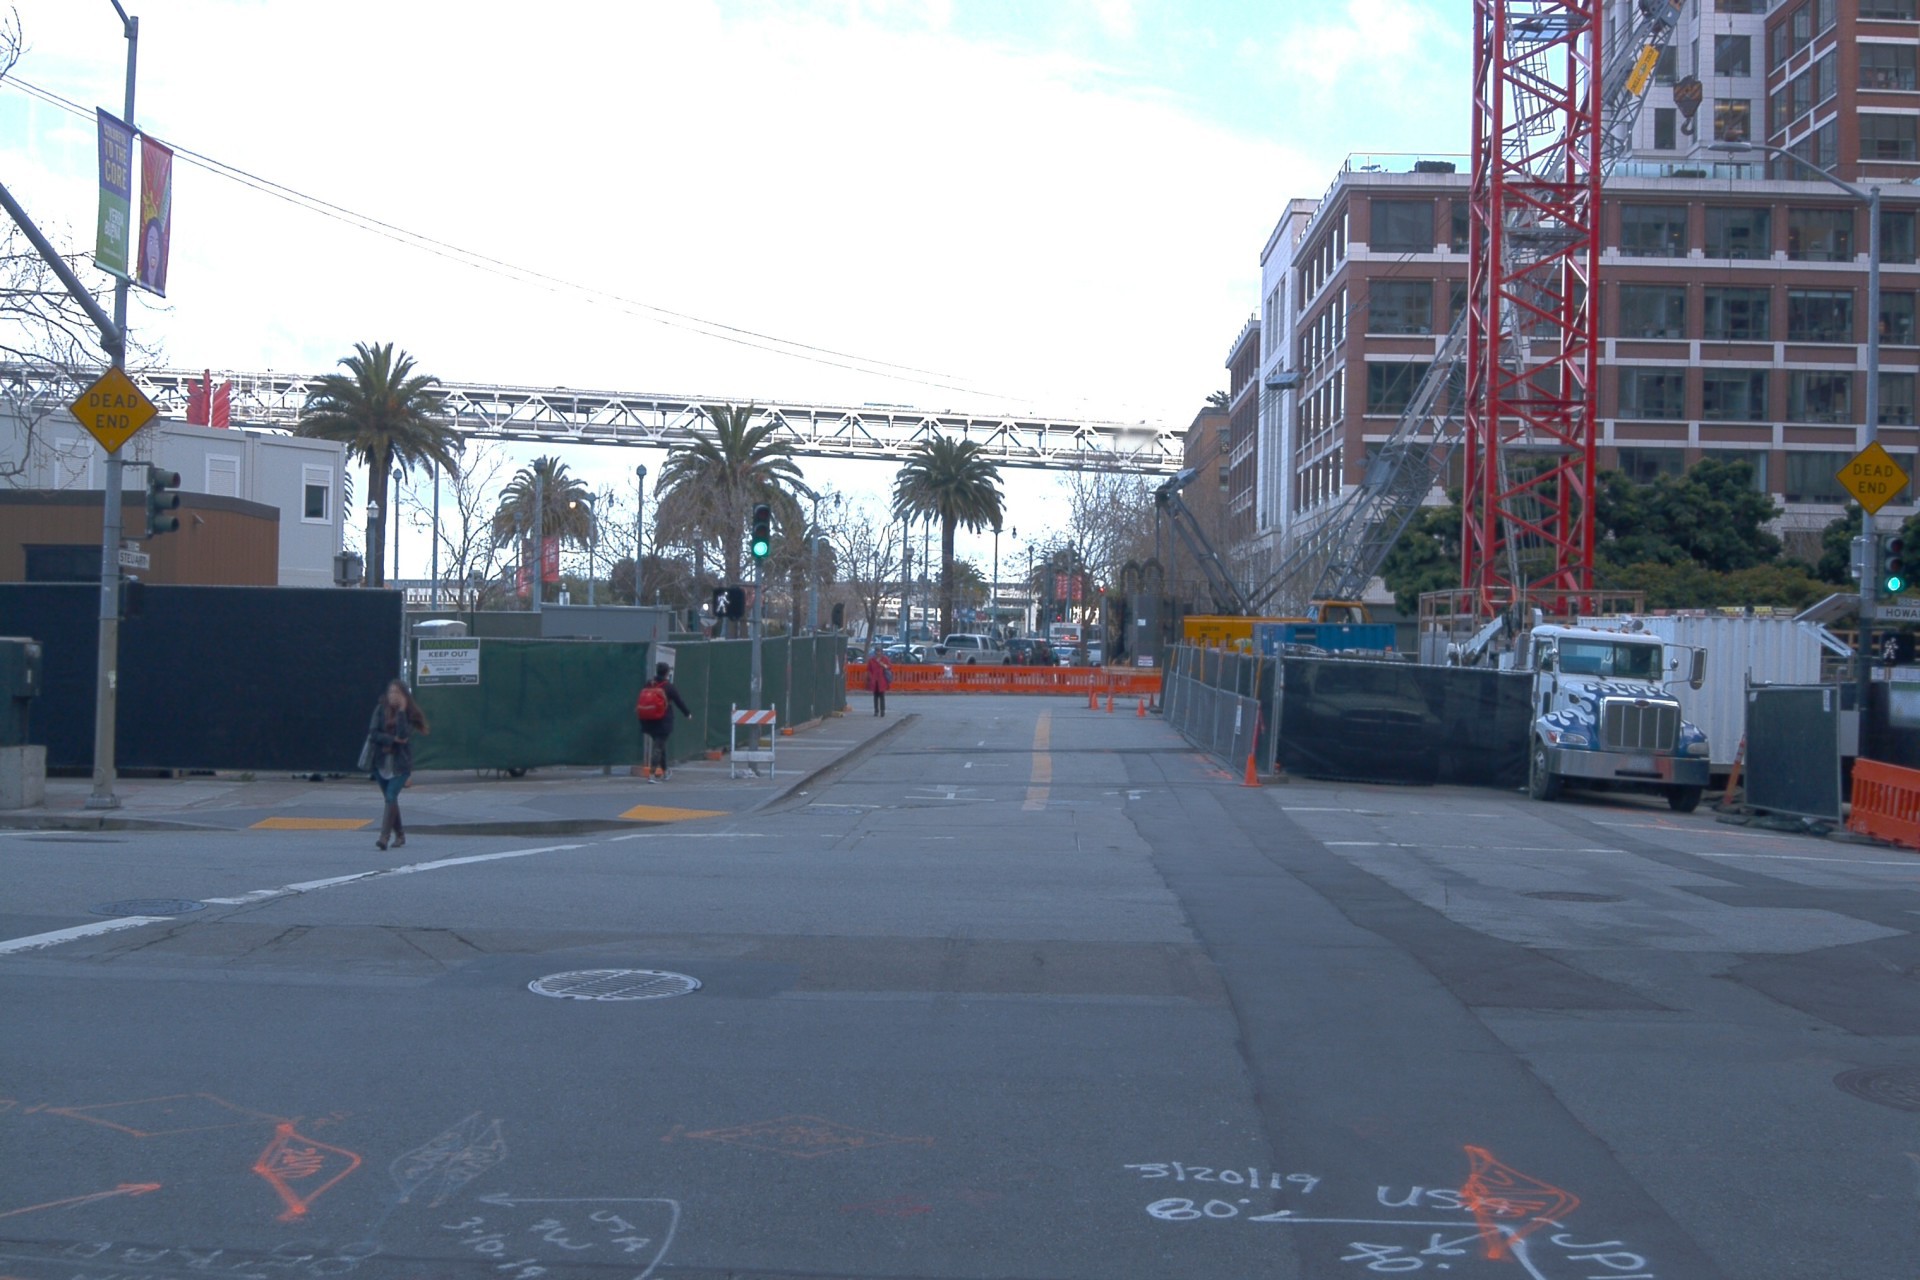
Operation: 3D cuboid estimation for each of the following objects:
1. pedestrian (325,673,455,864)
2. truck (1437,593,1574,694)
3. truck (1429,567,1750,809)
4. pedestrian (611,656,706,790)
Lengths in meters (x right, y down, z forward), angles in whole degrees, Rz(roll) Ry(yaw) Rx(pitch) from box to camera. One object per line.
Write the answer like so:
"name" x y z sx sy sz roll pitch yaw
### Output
"pedestrian" -5.374 1.189 19.336 0.847 1.720 1.093 1 0 4
"truck" 8.918 0.045 33.686 1.127 1.550 4.268 1 0 0
"truck" 9.648 0.653 32.242 2.982 3.380 7.060 1 0 1
"pedestrian" -4.088 1.102 27.783 0.772 1.760 1.196 1 0 22
